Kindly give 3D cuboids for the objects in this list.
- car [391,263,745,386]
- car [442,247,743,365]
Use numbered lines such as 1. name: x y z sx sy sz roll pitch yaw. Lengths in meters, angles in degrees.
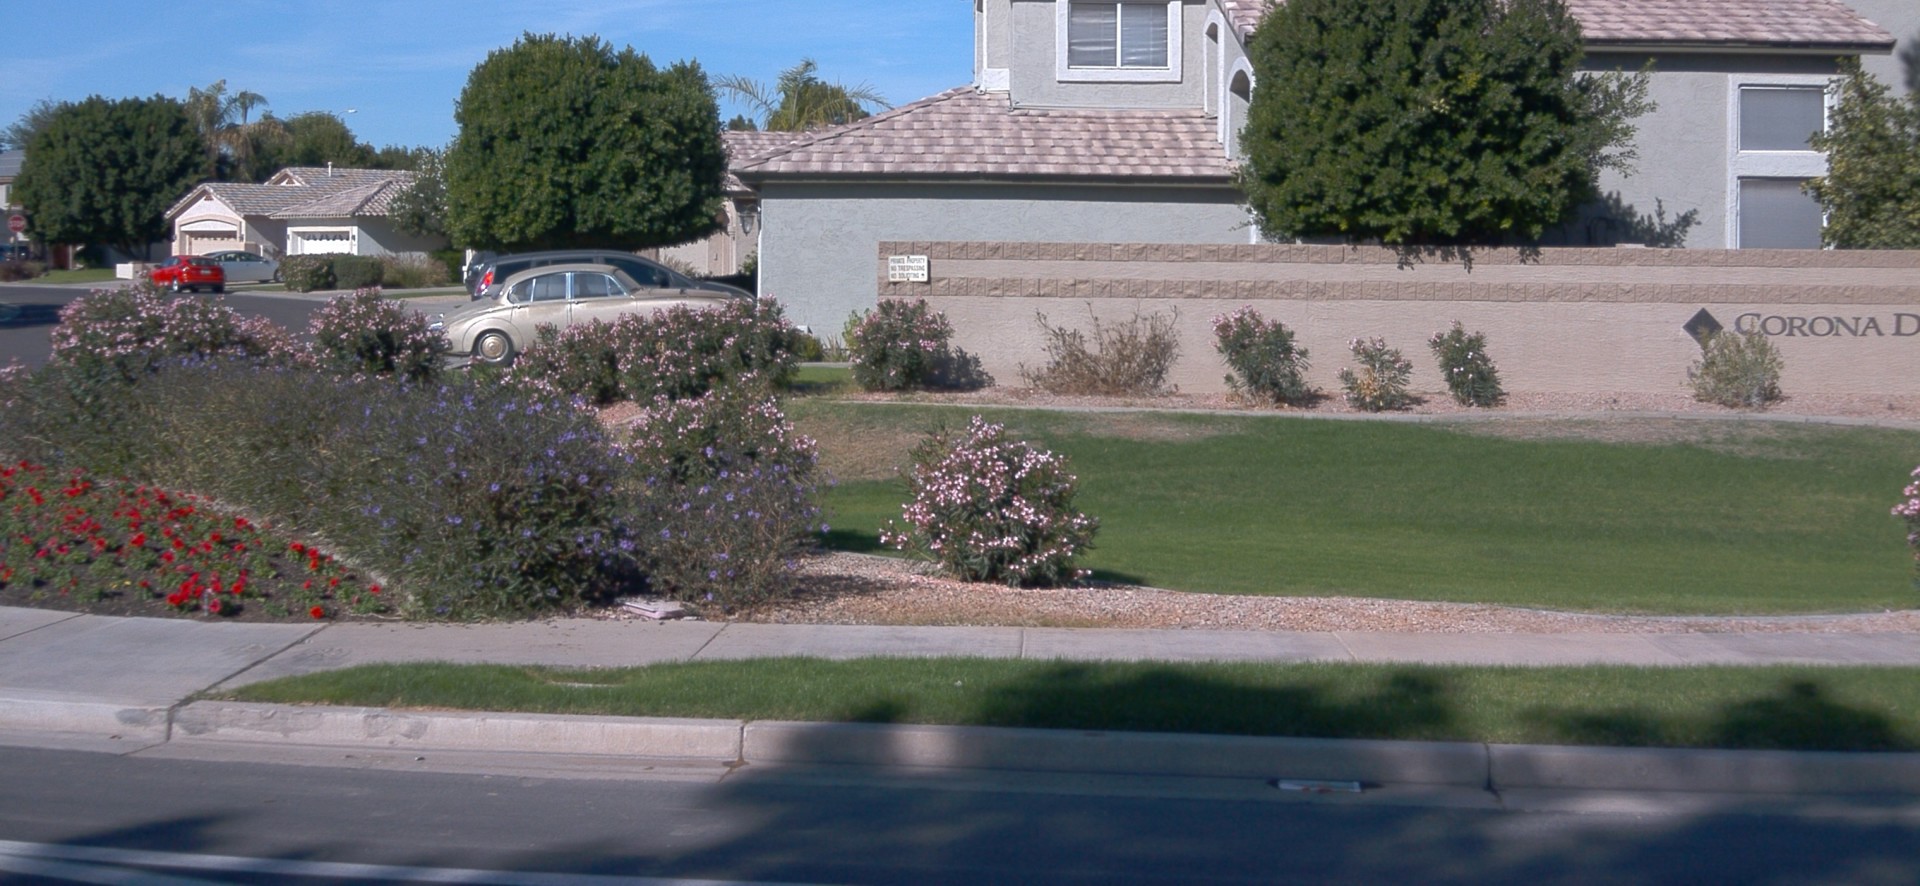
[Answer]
1. car: -5.670 -1.768 30.774 4.857 1.687 2.131 0 4 -4
2. car: -5.804 -2.206 33.341 4.594 1.807 1.857 0 3 -8
